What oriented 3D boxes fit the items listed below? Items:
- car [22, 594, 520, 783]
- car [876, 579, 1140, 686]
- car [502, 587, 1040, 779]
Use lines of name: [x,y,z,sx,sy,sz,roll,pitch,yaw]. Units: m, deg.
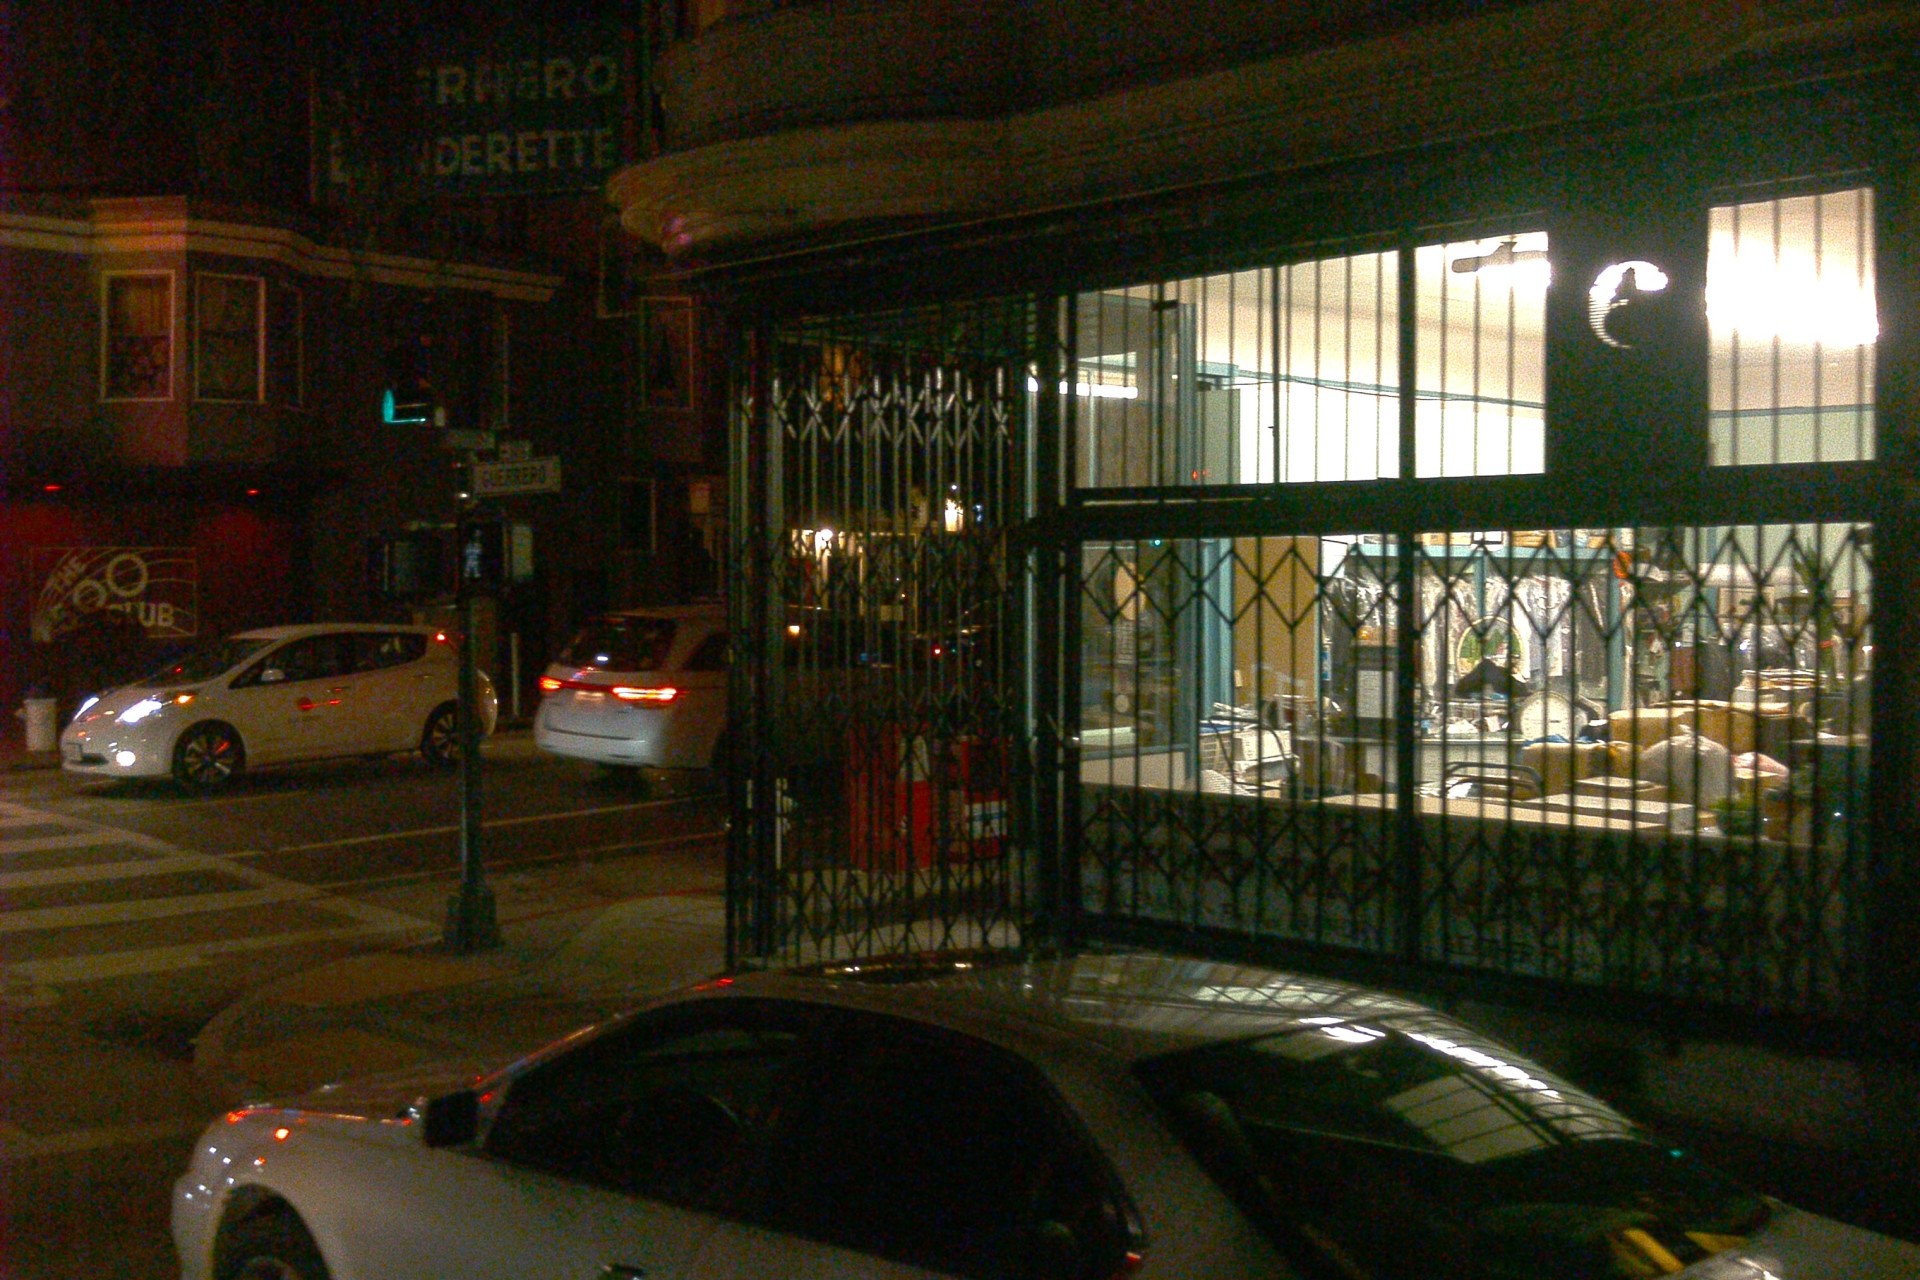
car: [-6.936,0.459,21.295,1.944,1.720,4.426,1,0,43]
car: [0.866,-0.104,35.035,1.991,1.690,4.349,1,0,44]
car: [-1.796,0.401,21.307,2.380,1.720,5.188,1,0,43]
